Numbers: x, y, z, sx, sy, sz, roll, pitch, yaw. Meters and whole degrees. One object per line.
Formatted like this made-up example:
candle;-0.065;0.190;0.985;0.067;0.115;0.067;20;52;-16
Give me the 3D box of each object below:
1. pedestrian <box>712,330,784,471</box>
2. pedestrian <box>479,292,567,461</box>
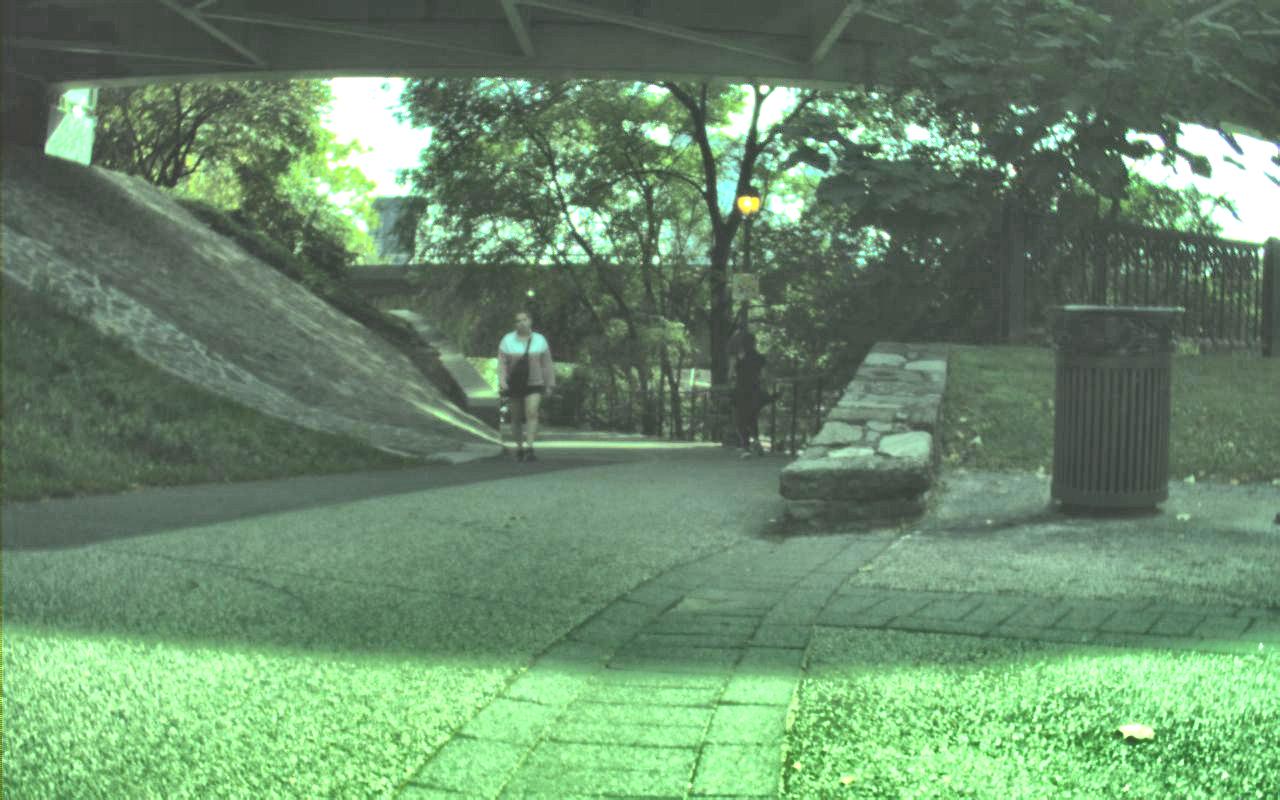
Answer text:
pedestrian;1.372;-0.004;15.936;0.845;1.718;0.886;0;0;8
pedestrian;-1.202;-0.247;13.047;0.841;1.697;0.881;0;0;-1
